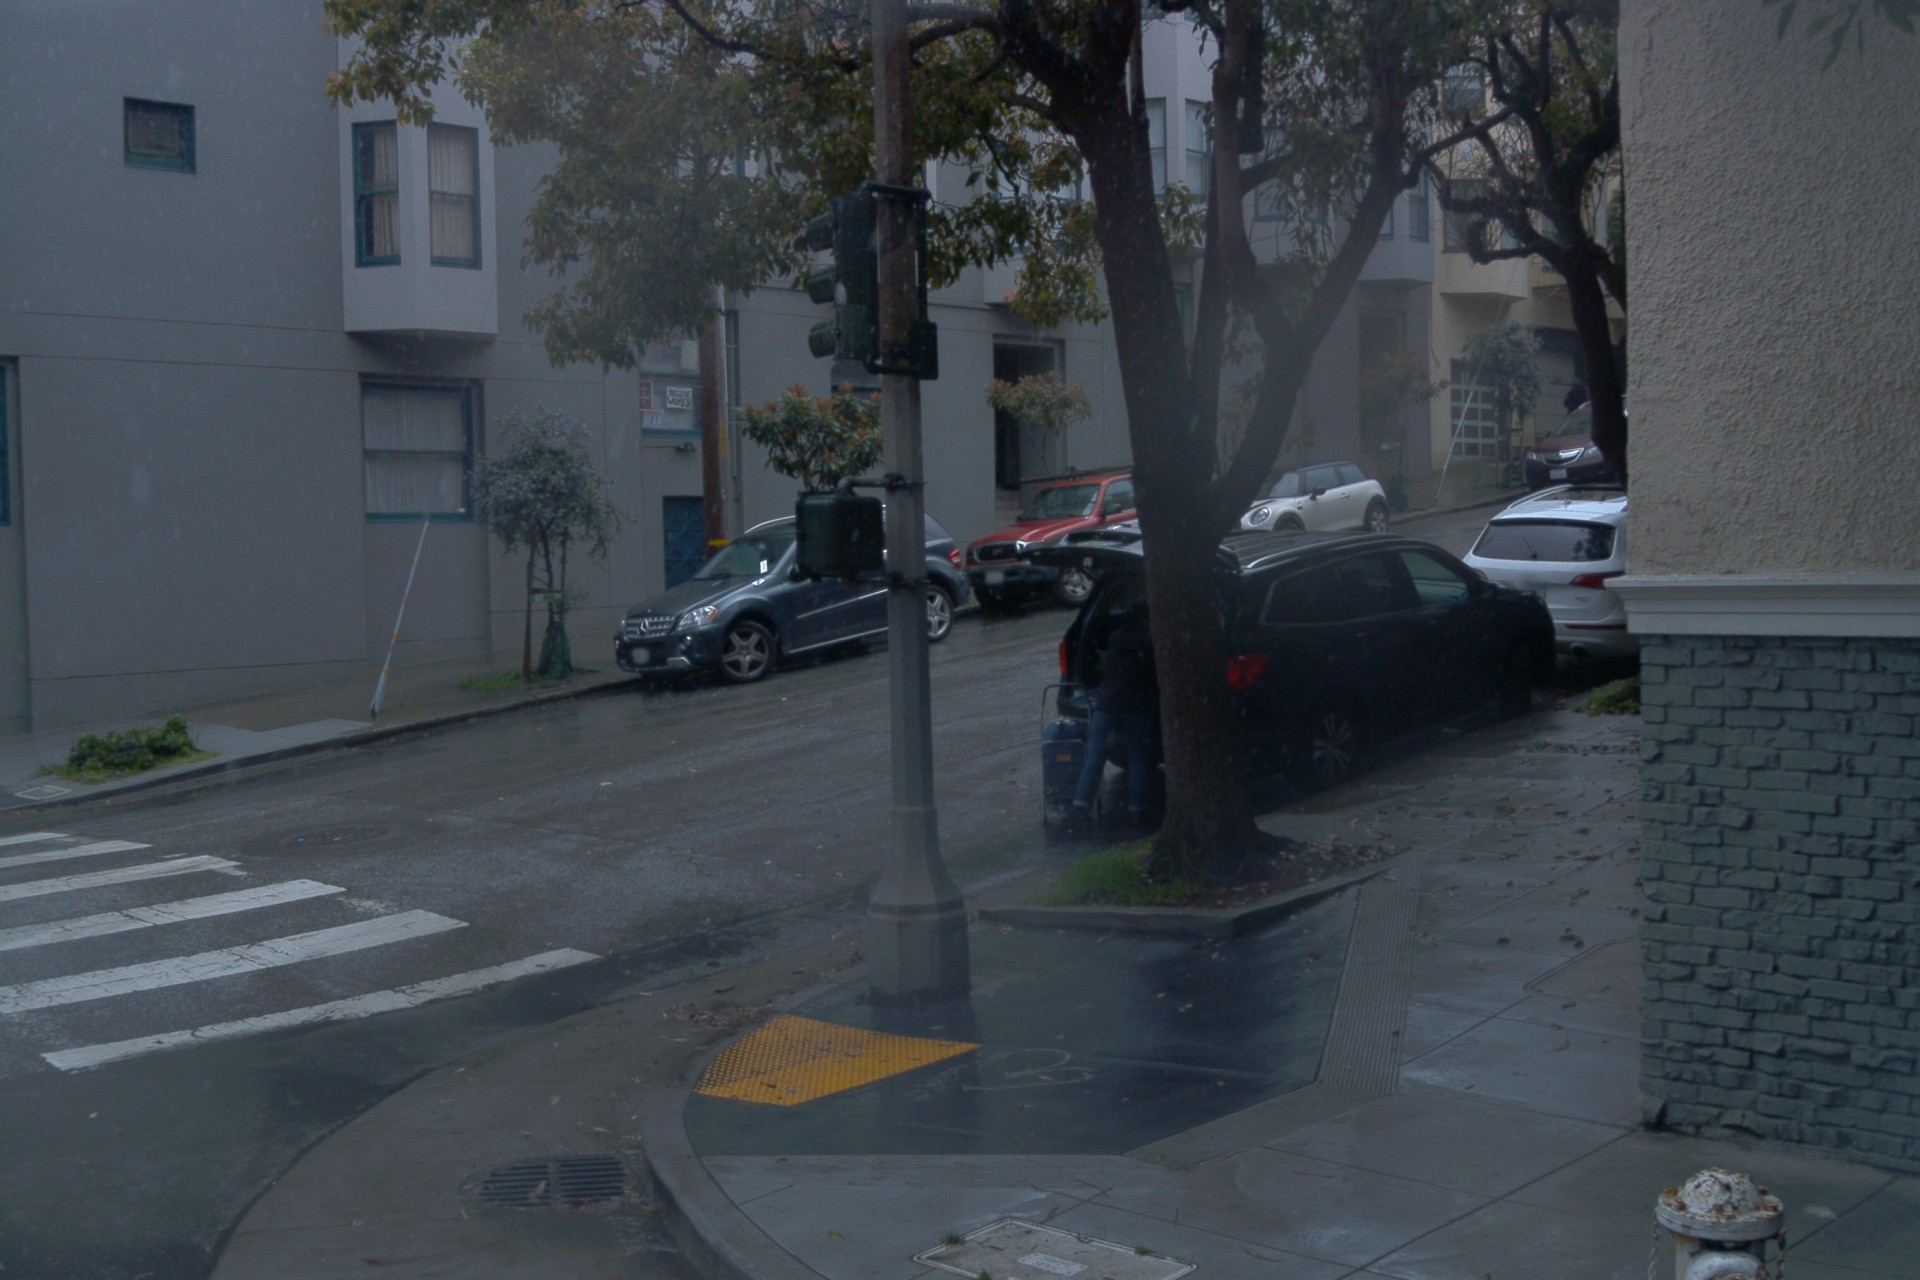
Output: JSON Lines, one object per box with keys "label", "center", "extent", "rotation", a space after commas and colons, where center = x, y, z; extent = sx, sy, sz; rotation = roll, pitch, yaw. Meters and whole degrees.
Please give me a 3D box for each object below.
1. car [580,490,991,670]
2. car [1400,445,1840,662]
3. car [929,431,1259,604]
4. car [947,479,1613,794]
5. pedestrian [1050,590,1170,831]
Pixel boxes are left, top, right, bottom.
{"label": "car", "center": [-2.049, -0.655, 24.965], "extent": [2.225, 1.980, 4.671], "rotation": [0, 0, 45]}
{"label": "car", "center": [6.523, -0.728, 19.878], "extent": [2.355, 1.840, 4.675], "rotation": [0, 0, 42]}
{"label": "car", "center": [1.985, -1.652, 29.236], "extent": [4.537, 2.180, 2.259], "rotation": [0, 0, -45]}
{"label": "car", "center": [2.723, -0.014, 16.096], "extent": [2.384, 2.040, 5.680], "rotation": [0, 0, 43]}
{"label": "pedestrian", "center": [1.062, 0.477, 14.303], "extent": [0.792, 1.634, 0.885], "rotation": [0, 0, 7]}
